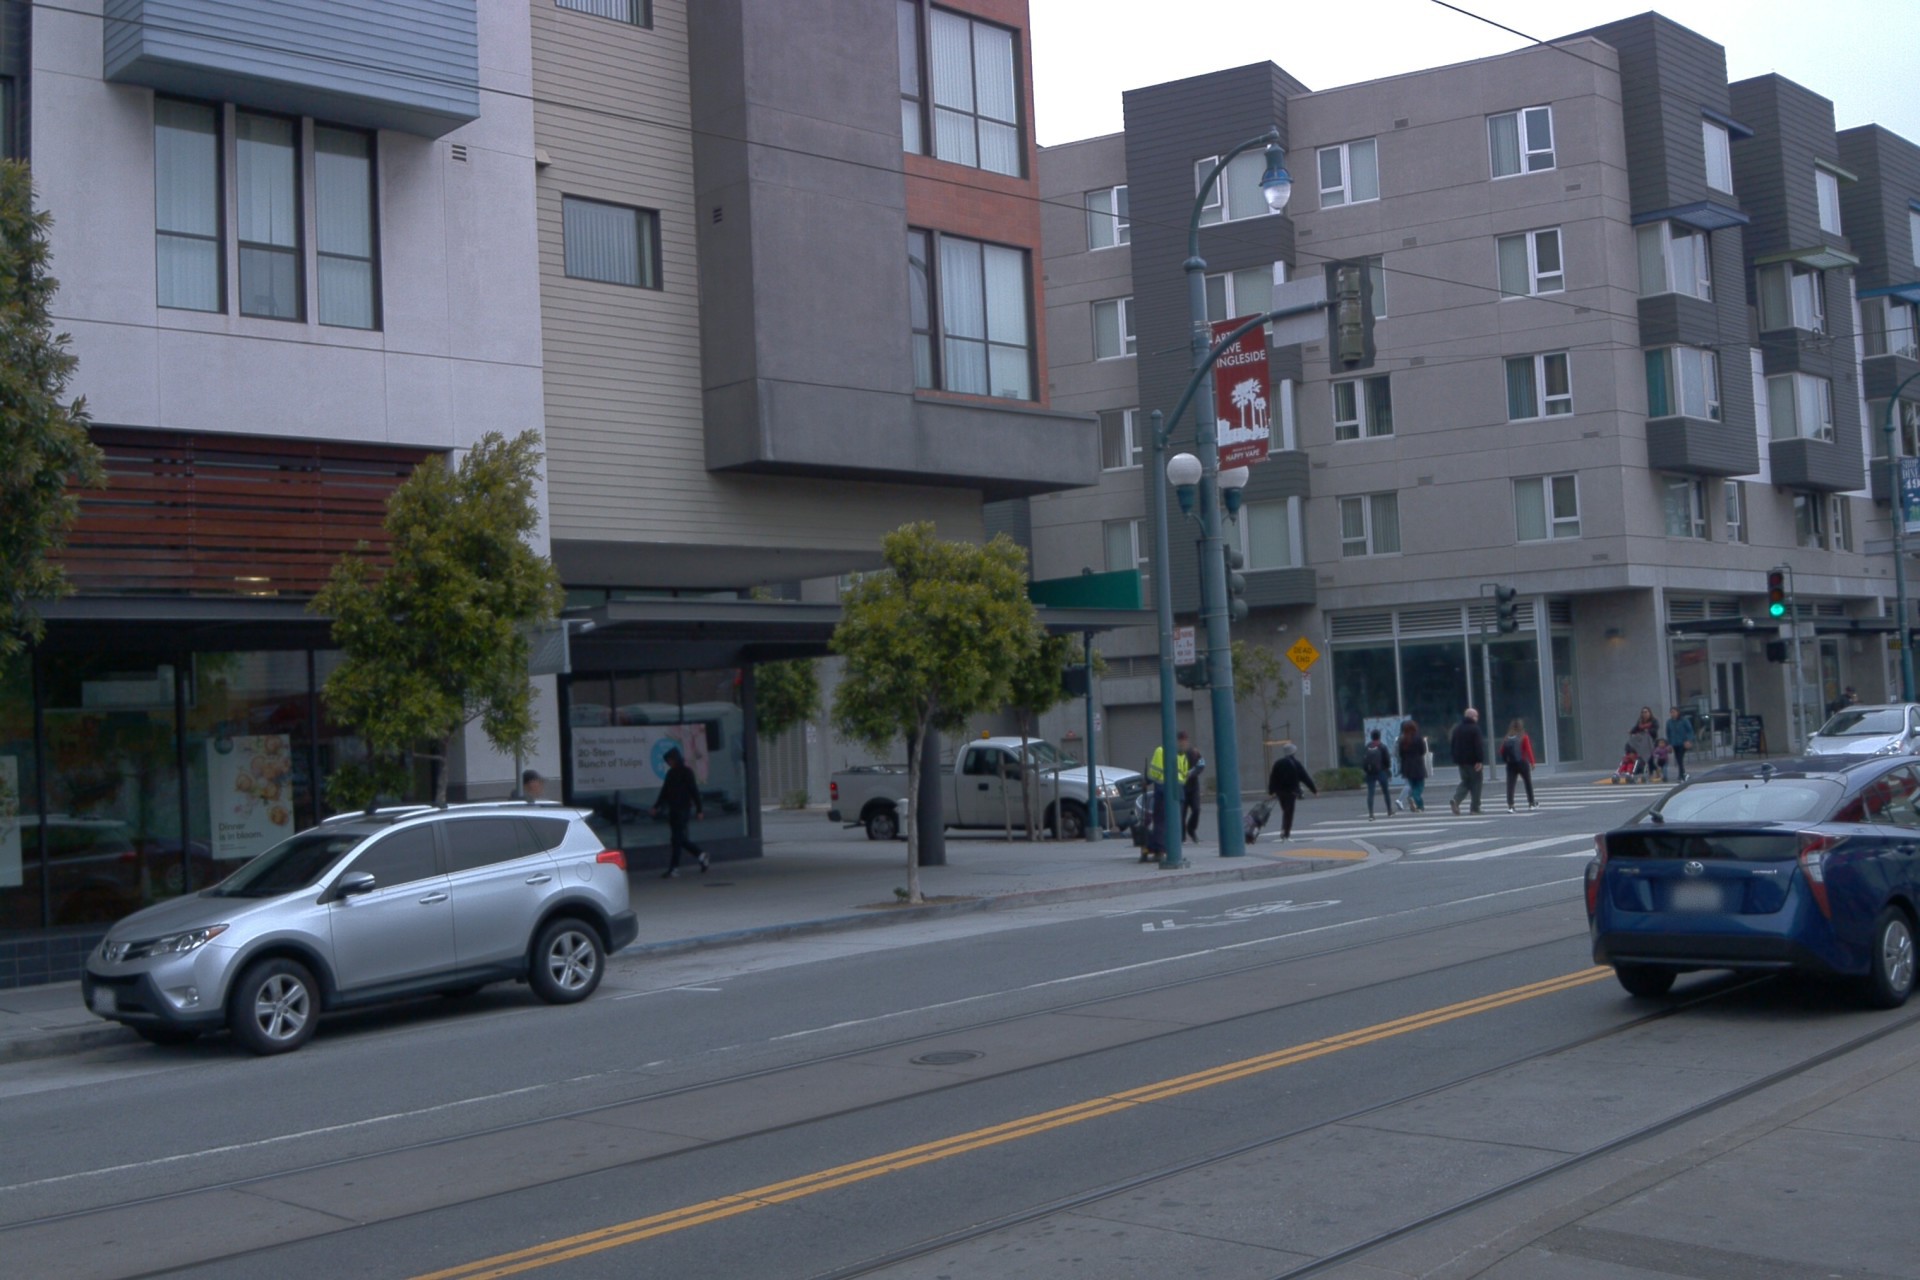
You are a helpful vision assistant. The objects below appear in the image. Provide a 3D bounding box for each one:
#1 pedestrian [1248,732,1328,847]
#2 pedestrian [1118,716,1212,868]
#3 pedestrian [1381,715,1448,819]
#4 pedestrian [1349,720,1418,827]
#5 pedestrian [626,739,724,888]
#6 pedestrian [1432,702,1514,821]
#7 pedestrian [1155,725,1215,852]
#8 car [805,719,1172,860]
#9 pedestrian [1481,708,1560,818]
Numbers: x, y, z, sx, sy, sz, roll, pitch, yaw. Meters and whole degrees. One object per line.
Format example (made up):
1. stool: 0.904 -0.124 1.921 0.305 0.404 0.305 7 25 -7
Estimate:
1. pedestrian: 5.149 2.327 32.353 0.986 1.690 0.805 -1 1 -44
2. pedestrian: 2.656 1.948 26.750 0.964 1.870 0.727 -1 1 -30
3. pedestrian: 7.985 2.220 36.247 0.777 1.733 0.989 1 1 39
4. pedestrian: 7.221 2.256 35.151 0.857 1.730 0.990 1 1 32
5. pedestrian: -3.975 2.400 28.866 0.840 1.940 1.079 1 1 35
6. pedestrian: 8.625 2.021 34.701 0.990 1.900 0.907 -1 1 -36
7. pedestrian: 3.451 2.275 31.753 0.720 1.872 0.824 0 1 -10
8. car: 0.471 2.552 36.389 6.039 2.050 2.348 1 1 28
9. pedestrian: 9.335 2.038 34.384 0.983 1.730 0.885 -1 1 -44
